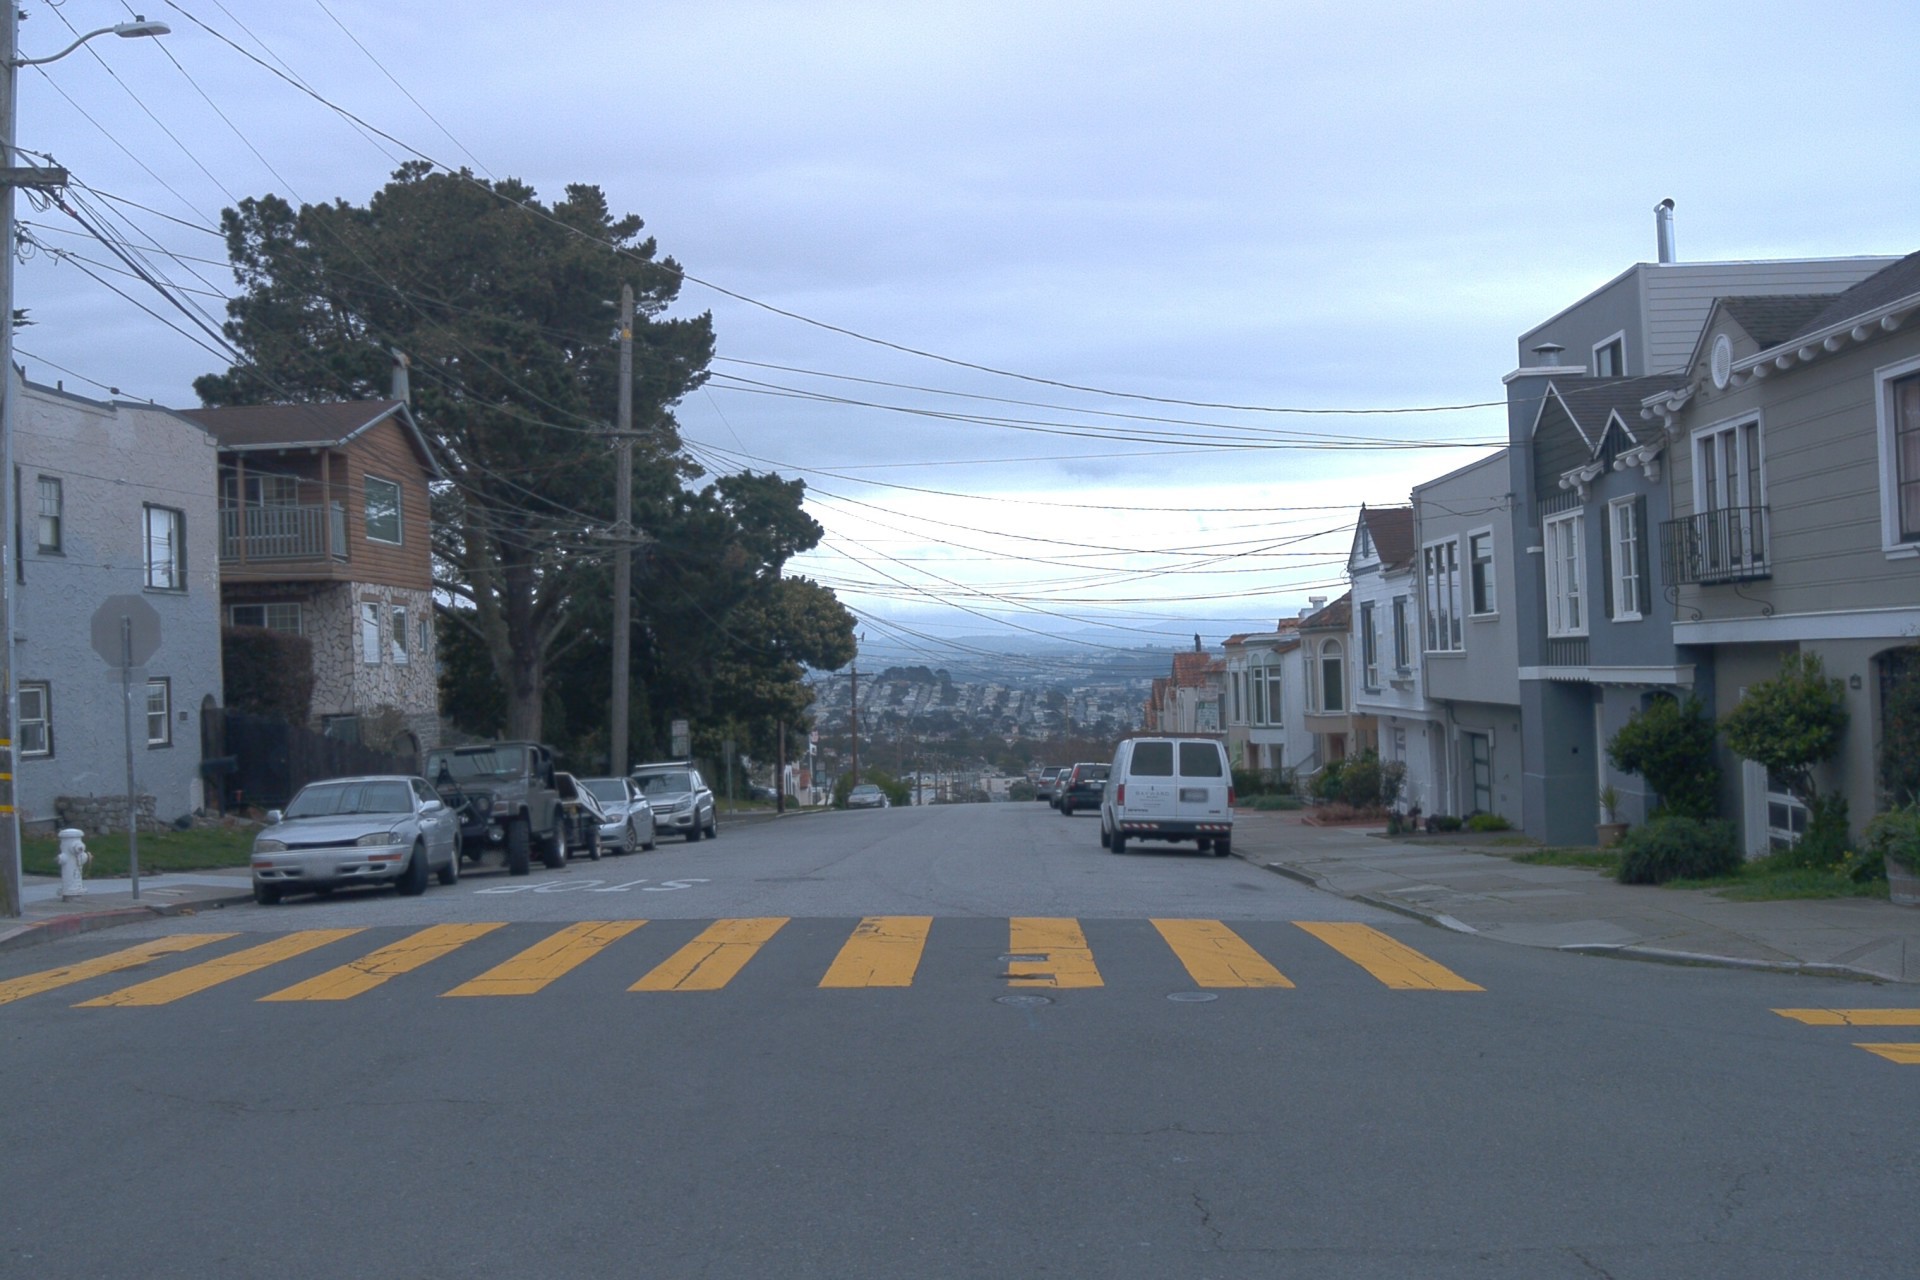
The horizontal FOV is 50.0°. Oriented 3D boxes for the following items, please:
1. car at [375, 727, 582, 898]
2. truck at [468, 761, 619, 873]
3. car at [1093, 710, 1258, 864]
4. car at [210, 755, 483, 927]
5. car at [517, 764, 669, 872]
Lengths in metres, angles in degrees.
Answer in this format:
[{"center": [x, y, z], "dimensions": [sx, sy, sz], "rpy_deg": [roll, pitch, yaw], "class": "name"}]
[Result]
[{"center": [-6.584, 2.308, 28.618], "dimensions": [1.997, 2.030, 4.192], "rpy_deg": [0, 0, -2], "class": "car"}, {"center": [-6.486, 2.740, 32.364], "dimensions": [1.696, 1.510, 2.985], "rpy_deg": [0, 0, 1], "class": "truck"}, {"center": [3.463, 2.345, 34.105], "dimensions": [2.330, 2.195, 4.904], "rpy_deg": [0, 0, 1], "class": "car"}, {"center": [-6.948, 2.228, 23.893], "dimensions": [2.100, 1.500, 4.826], "rpy_deg": [0, 0, -5], "class": "car"}, {"center": [-6.407, 3.090, 36.459], "dimensions": [1.979, 1.530, 4.512], "rpy_deg": [0, 0, -1], "class": "car"}]
